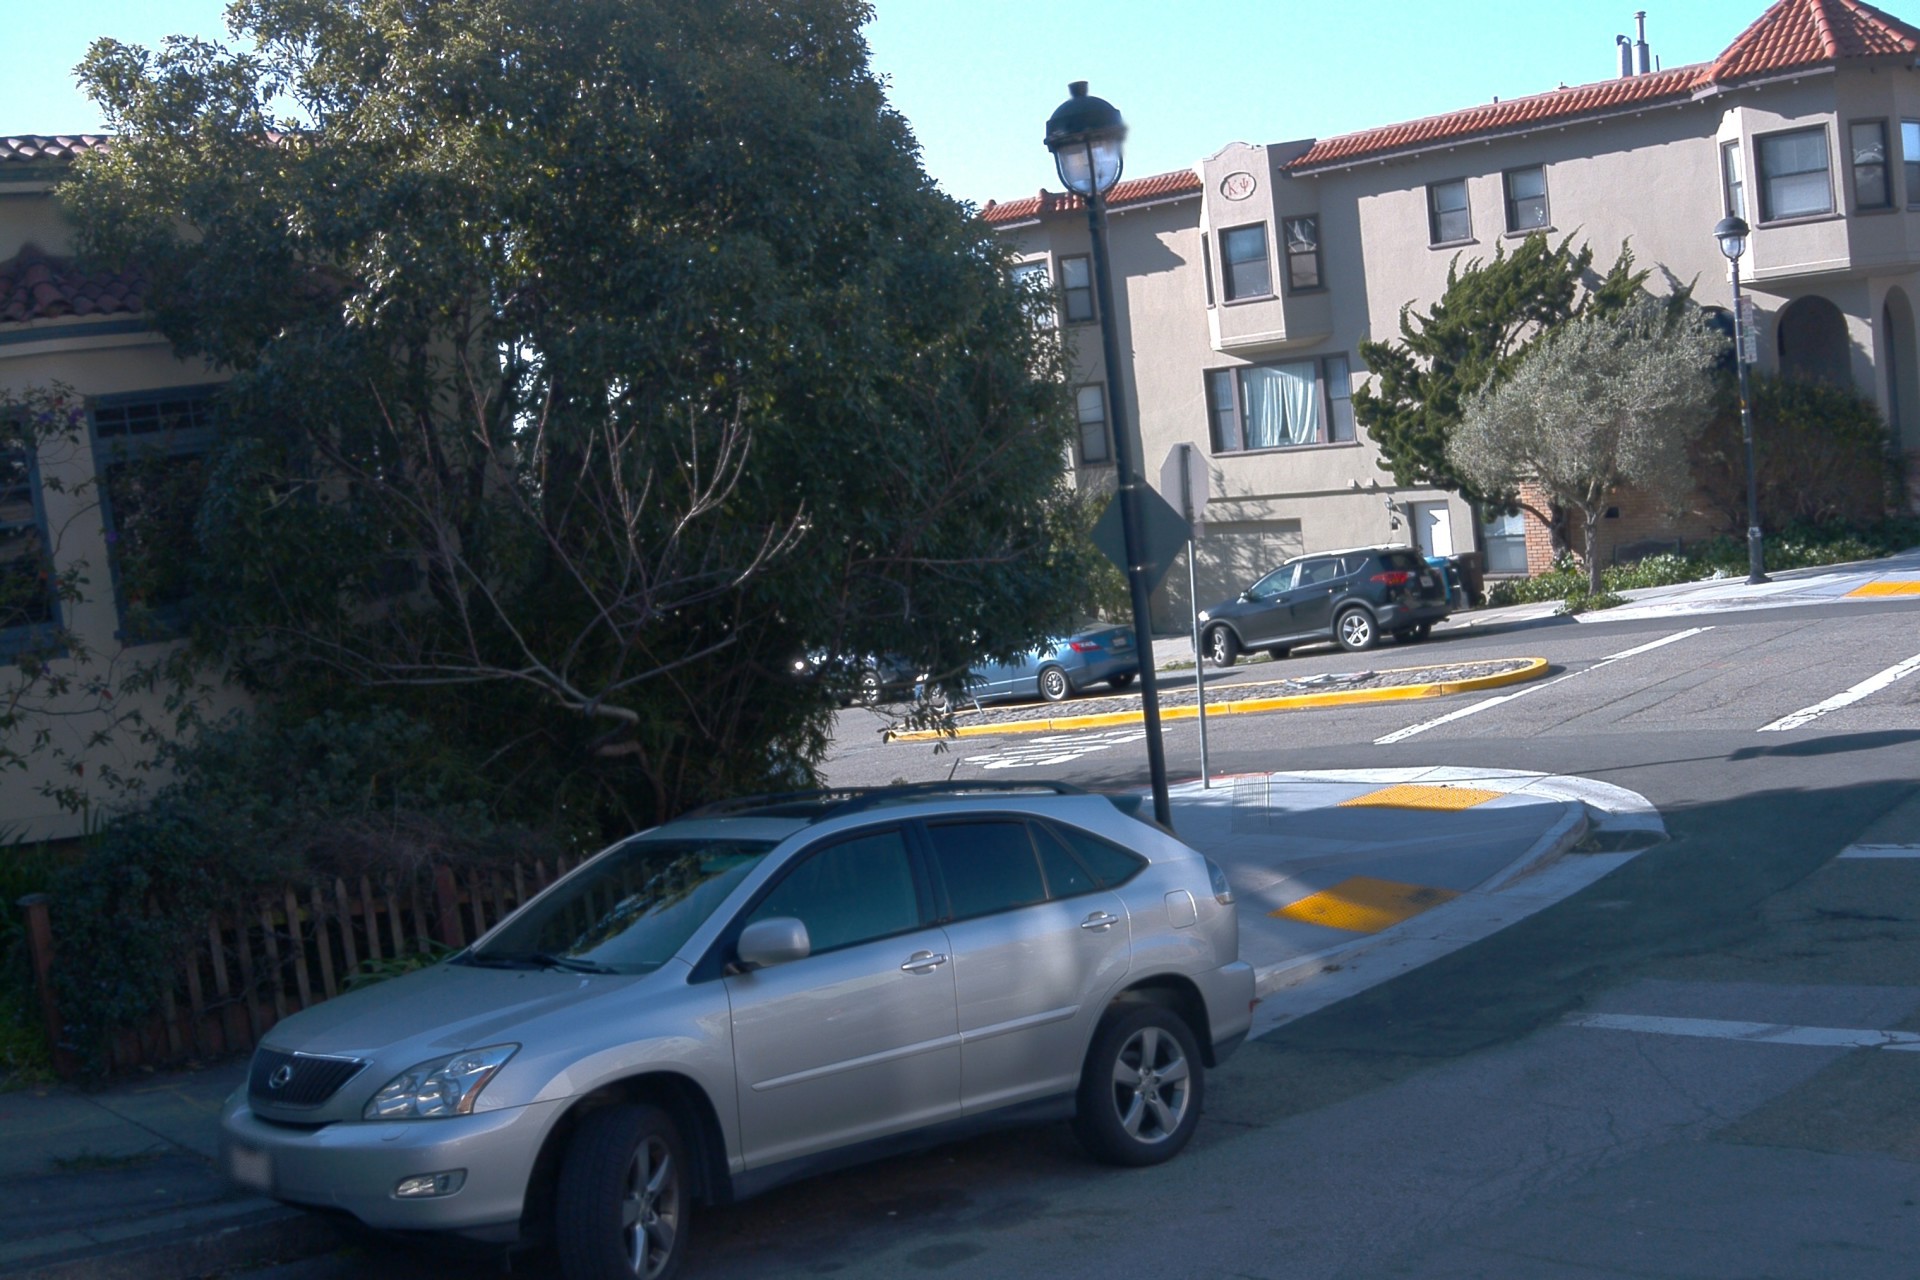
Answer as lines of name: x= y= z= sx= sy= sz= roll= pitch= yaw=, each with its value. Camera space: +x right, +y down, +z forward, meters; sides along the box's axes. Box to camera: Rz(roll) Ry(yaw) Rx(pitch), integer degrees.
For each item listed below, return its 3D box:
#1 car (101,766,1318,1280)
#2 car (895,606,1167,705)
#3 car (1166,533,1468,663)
car: x=-0.805 y=1.588 z=8.613 sx=4.666 sy=1.810 sz=2.097 roll=-1 pitch=0 yaw=-43
car: x=1.121 y=0.233 z=34.226 sx=4.380 sy=1.530 sz=1.832 roll=0 pitch=0 yaw=44
car: x=5.928 y=-0.655 z=34.728 sx=4.526 sy=2.020 sz=2.204 roll=0 pitch=0 yaw=45
